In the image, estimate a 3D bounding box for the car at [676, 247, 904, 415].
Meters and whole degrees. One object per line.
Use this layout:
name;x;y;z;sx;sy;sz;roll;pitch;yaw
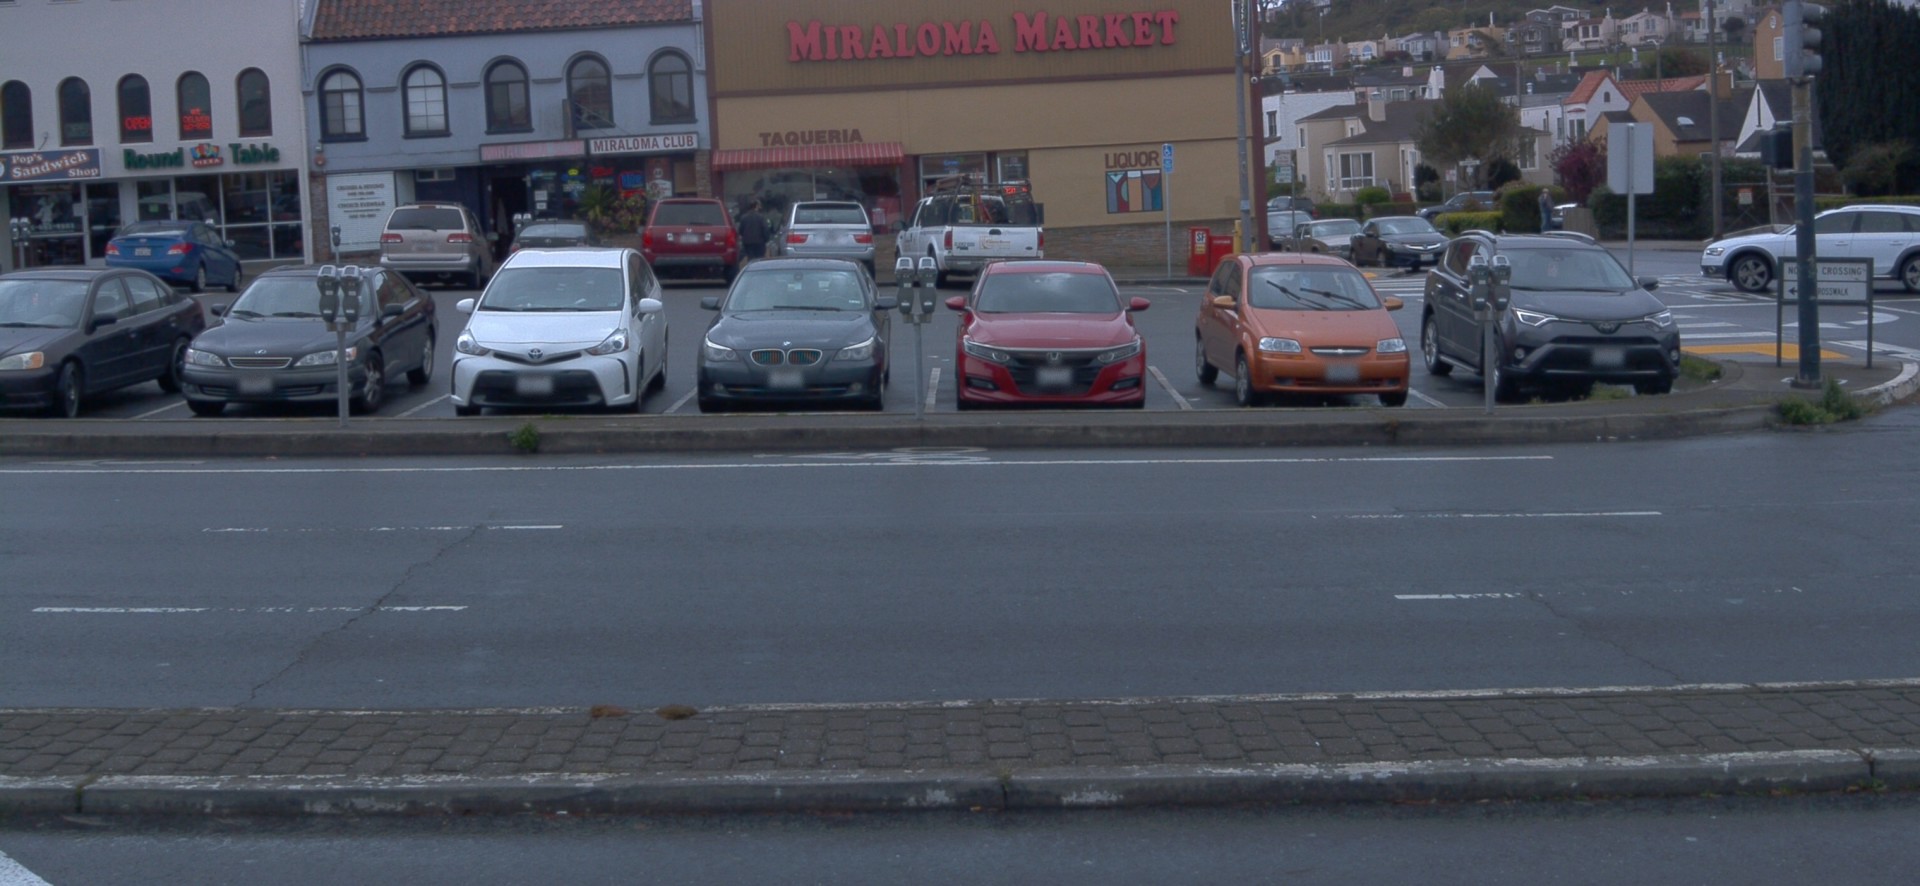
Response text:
car;-1.657;-1.270;21.658;2.112;1.461;4.574;0;6;-1

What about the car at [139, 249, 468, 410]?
car;-6.718;-1.285;21.703;2.023;1.392;4.712;0;6;-1

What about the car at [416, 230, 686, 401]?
car;-4.066;-1.418;21.320;2.132;1.491;4.678;0;6;-4

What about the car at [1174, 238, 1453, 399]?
car;3.607;-1.397;21.809;2.049;1.462;4.037;0;6;-4

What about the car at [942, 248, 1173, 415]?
car;0.907;-1.274;21.830;2.185;1.461;4.636;0;6;-1

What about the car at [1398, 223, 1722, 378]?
car;6.389;-1.642;22.575;2.205;1.461;4.580;0;6;0
